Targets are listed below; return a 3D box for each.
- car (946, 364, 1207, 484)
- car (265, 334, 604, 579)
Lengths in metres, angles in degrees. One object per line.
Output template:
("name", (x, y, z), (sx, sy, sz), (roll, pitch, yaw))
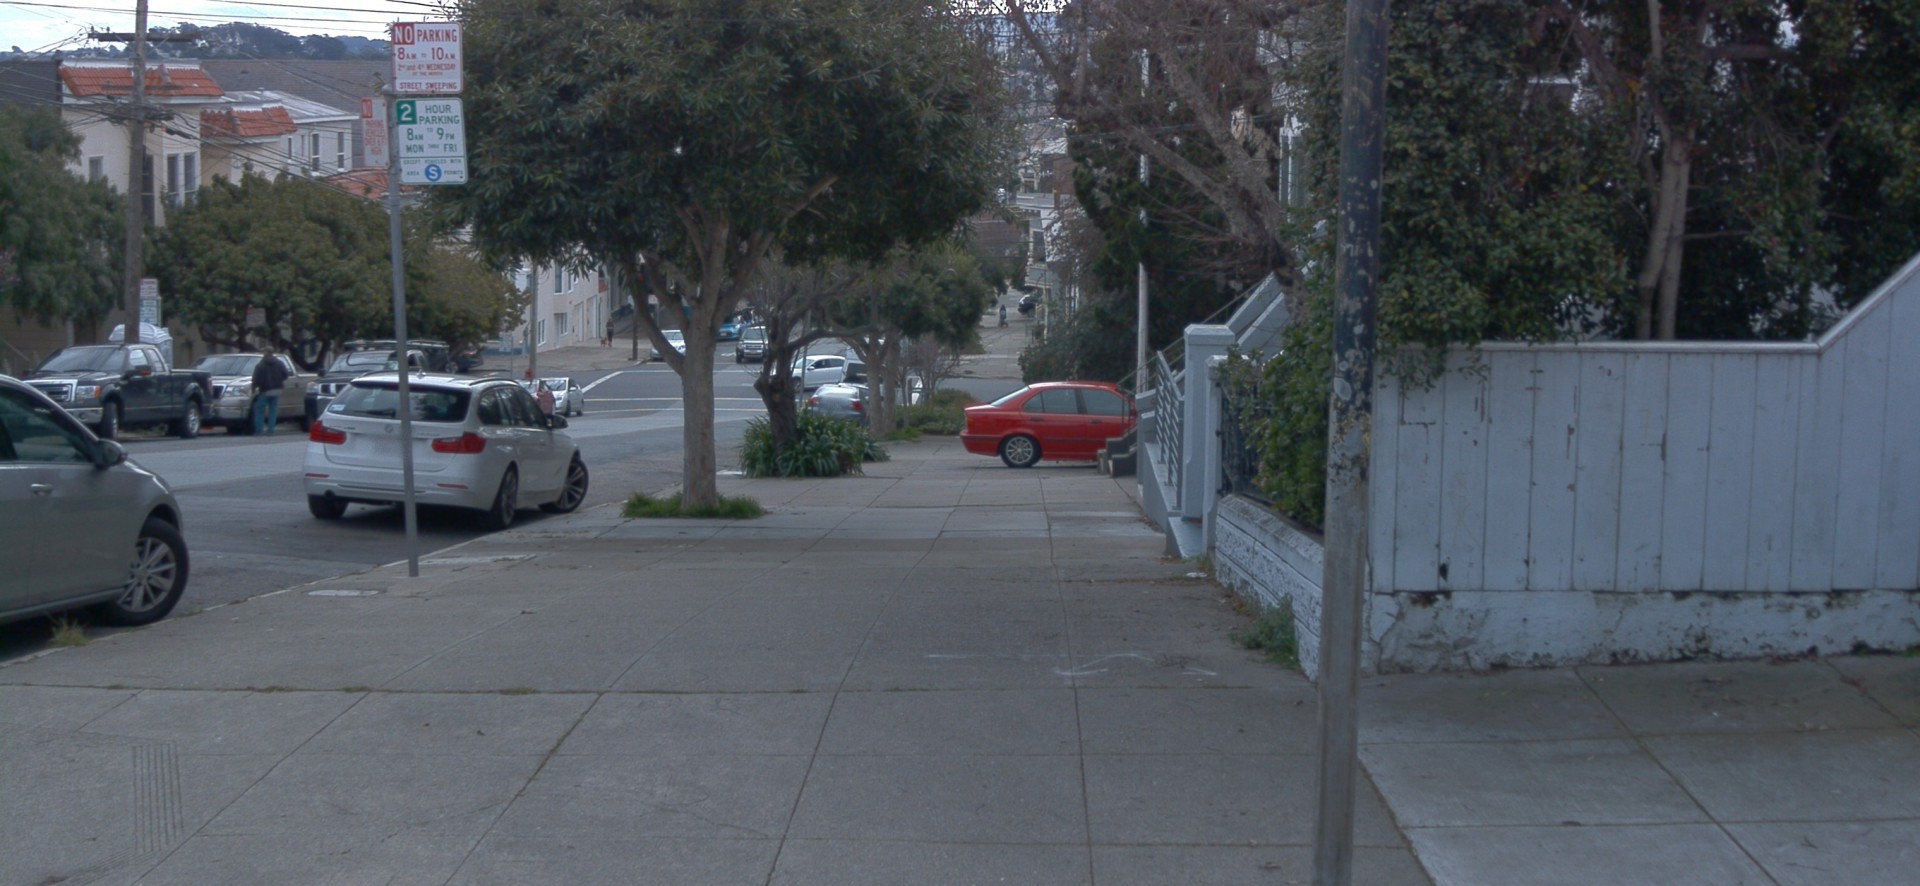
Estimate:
("car", (1.885, -0.333, 32.552), (4.012, 1.647, 1.789), (1, 3, 5))
("car", (-5.023, -0.008, 20.362), (1.969, 1.903, 4.722), (1, 5, 2))
